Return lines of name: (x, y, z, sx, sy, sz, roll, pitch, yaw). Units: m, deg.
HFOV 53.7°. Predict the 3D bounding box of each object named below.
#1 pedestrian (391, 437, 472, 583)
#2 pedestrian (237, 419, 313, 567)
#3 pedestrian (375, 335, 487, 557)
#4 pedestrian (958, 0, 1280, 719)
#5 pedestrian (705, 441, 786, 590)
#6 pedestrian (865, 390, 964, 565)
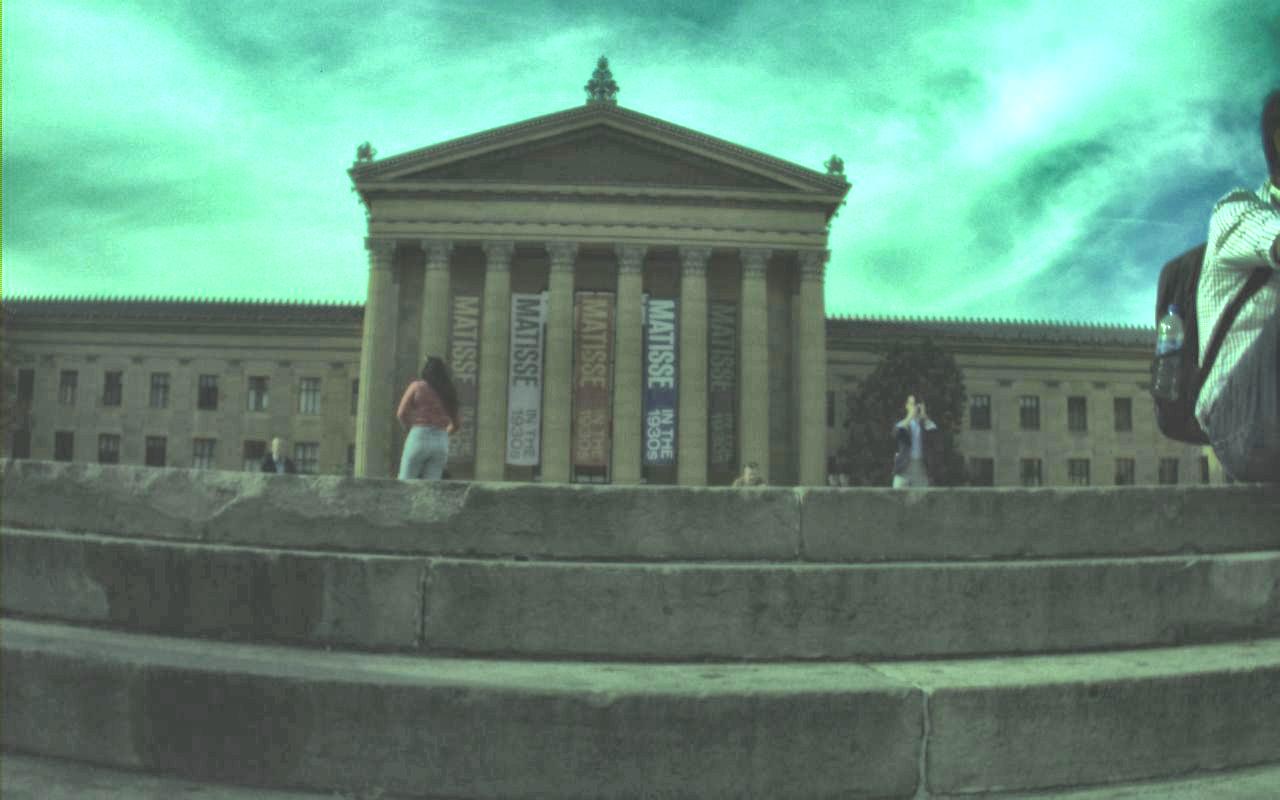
pedestrian: (-2.451, 1.274, 14.514, 0.846, 1.623, 0.863, 0, 0, -16)
pedestrian: (-4.326, 1.094, 14.293, 0.815, 1.675, 0.807, 0, 0, -23)
pedestrian: (-1.721, 0.358, 10.144, 0.796, 1.738, 0.785, 0, 0, -21)
pedestrian: (1.213, -0.275, 2.417, 0.785, 1.648, 0.739, 0, 0, -24)
pedestrian: (1.233, 1.322, 14.523, 0.836, 1.631, 0.858, 0, 0, 10)
pedestrian: (2.840, 0.784, 12.856, 0.825, 1.749, 0.818, 0, 0, -3)
